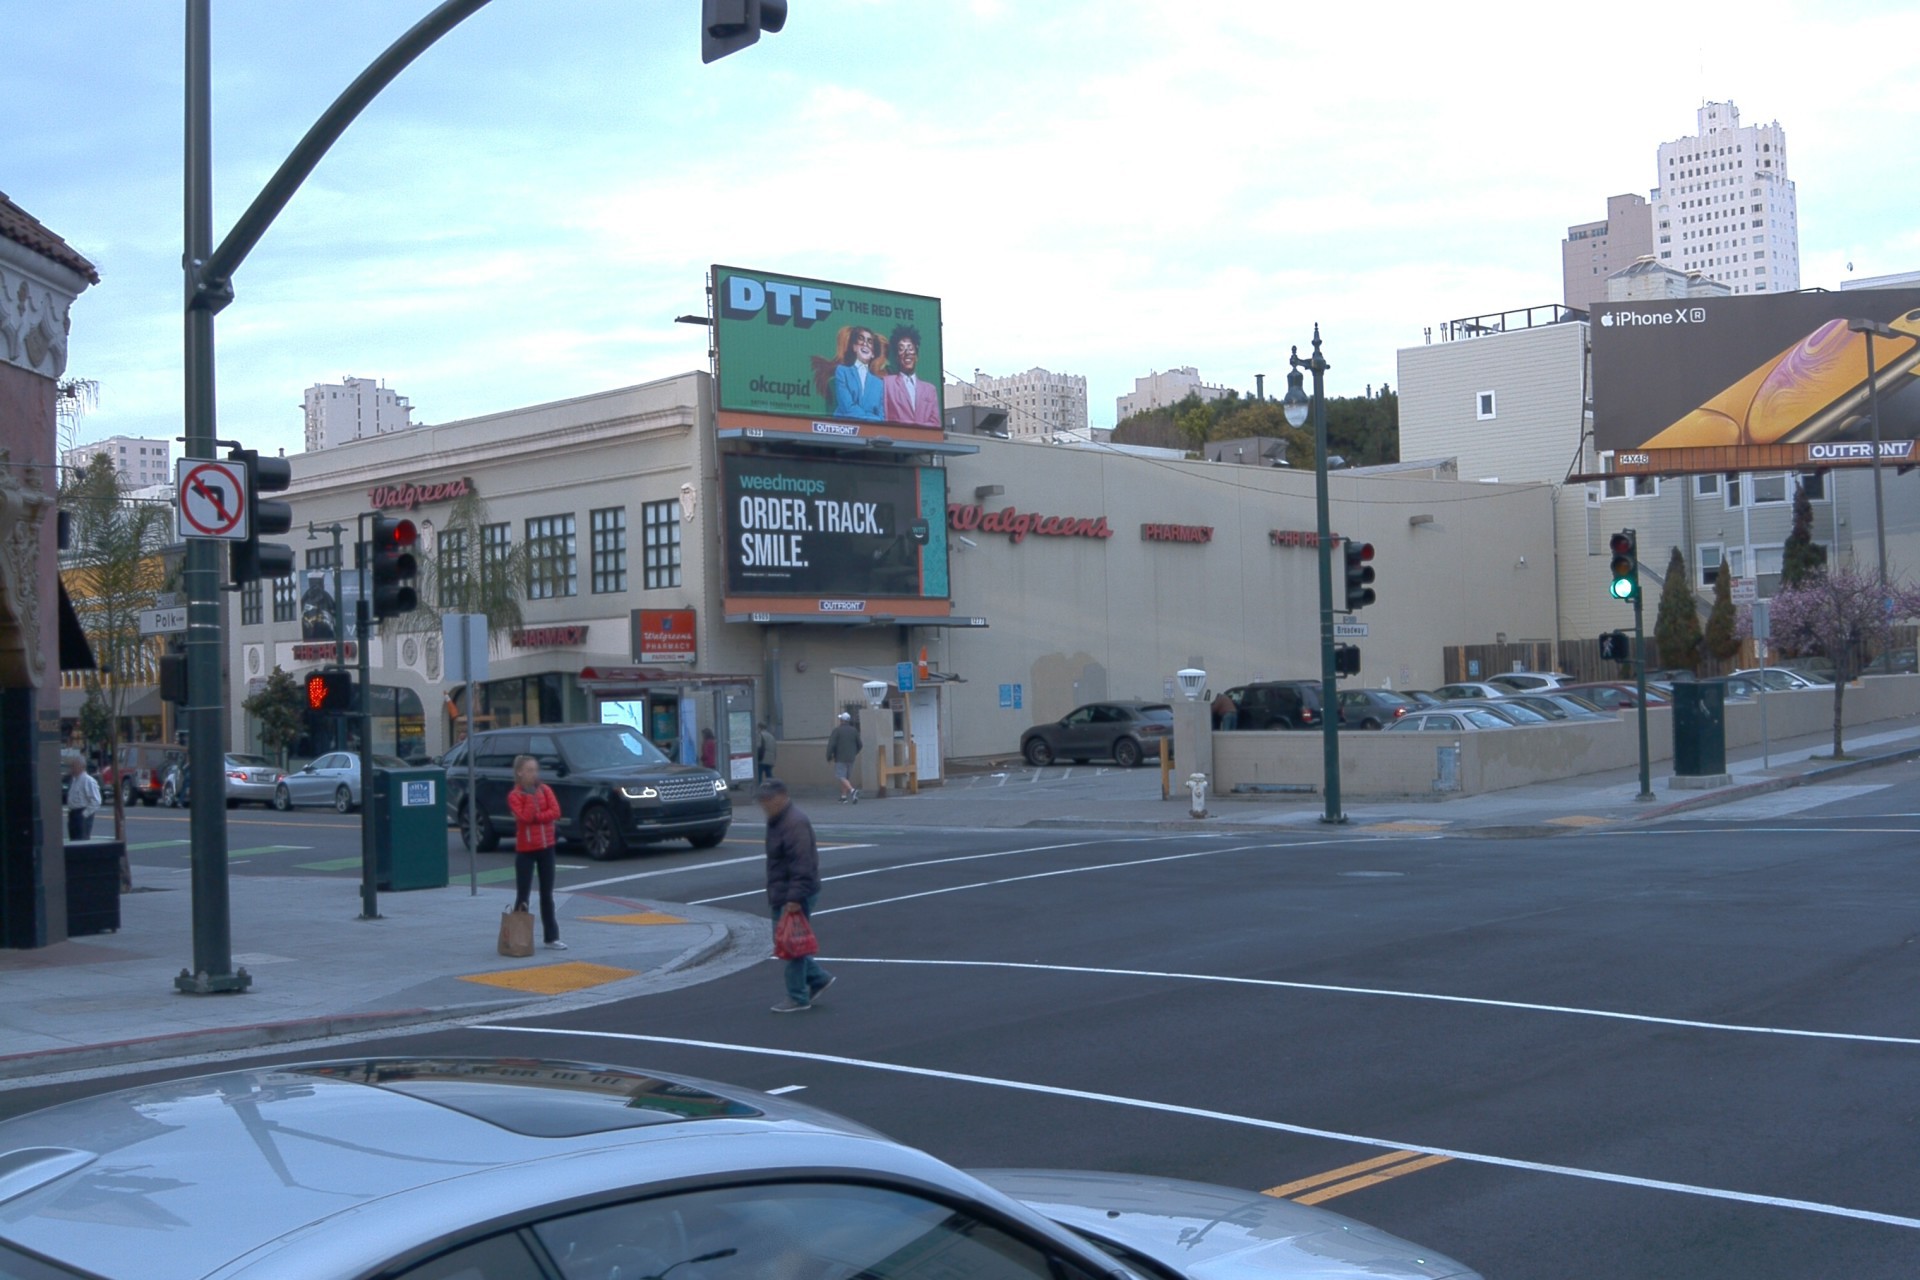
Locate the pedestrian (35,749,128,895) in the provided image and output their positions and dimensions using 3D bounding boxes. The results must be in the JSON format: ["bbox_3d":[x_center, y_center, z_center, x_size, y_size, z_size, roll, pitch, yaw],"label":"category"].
[{"bbox_3d":[-11.211,2.301,26.382,0.885,1.730,1.020,0,1,-35],"label":"pedestrian"}]

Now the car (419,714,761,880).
[{"bbox_3d":[-5.402,2.153,29.697,5.170,1.890,2.224,2,1,44],"label":"car"}]

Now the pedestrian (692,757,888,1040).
[{"bbox_3d":[-1.107,1.642,13.473,0.914,1.680,0.856,1,1,35],"label":"pedestrian"}]

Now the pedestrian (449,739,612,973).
[{"bbox_3d":[-3.742,1.848,18.053,0.861,1.879,1.070,2,1,40],"label":"pedestrian"}]
